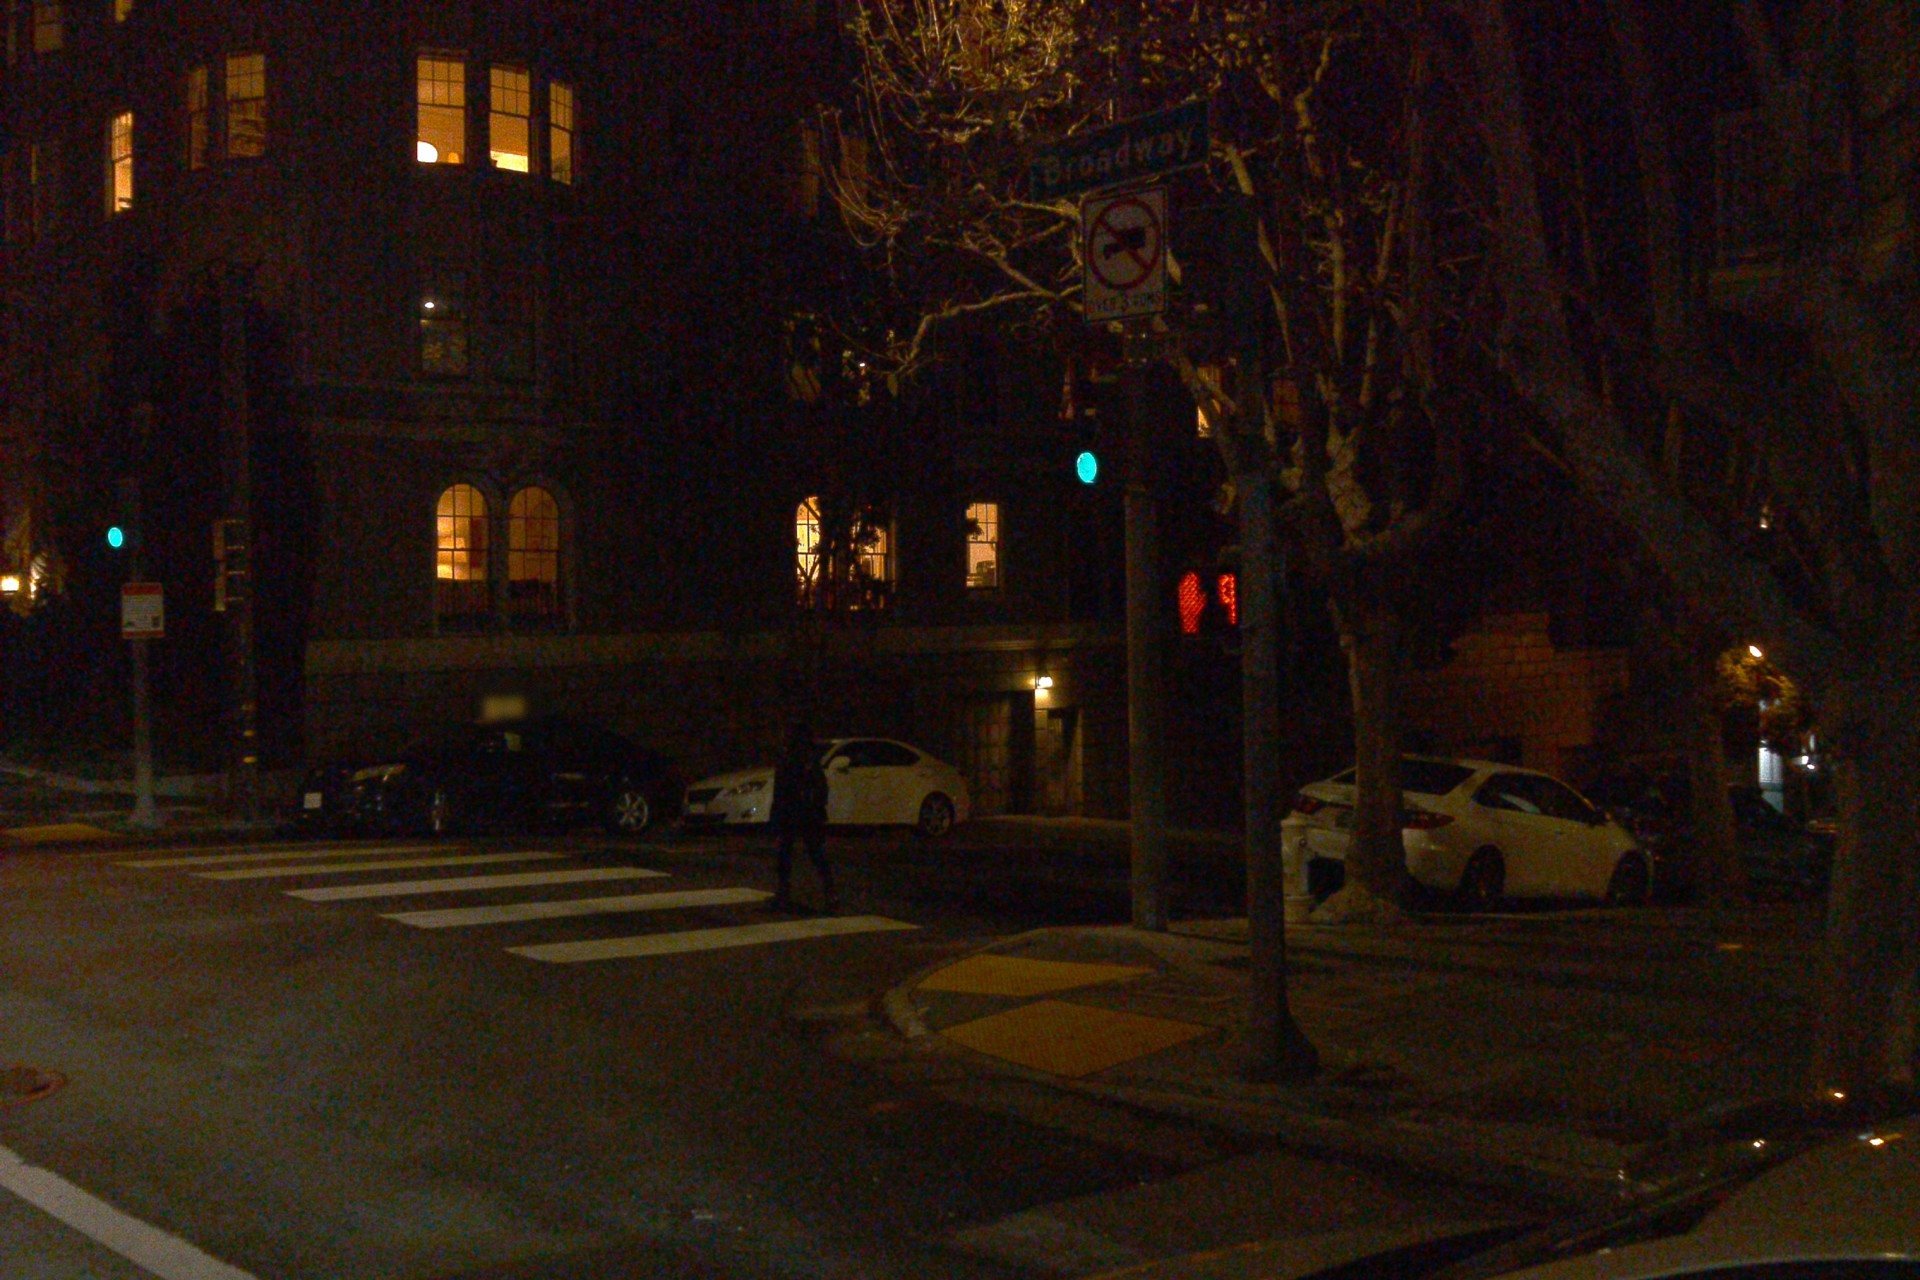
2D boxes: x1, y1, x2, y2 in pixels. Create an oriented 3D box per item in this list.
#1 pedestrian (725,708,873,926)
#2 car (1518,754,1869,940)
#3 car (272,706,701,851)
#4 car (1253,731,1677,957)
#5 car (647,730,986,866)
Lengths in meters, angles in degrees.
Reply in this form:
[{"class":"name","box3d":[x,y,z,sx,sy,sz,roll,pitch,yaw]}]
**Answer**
[{"class":"pedestrian","box3d":[-1.238,1.326,15.765,0.706,1.570,0.903,0,0,-44]},{"class":"car","box3d":[8.908,2.381,24.708,4.887,1.744,1.990,0,0,-44]},{"class":"car","box3d":[-5.386,1.529,23.877,1.838,1.362,4.644,1,0,42]},{"class":"car","box3d":[5.160,1.924,20.643,4.554,1.811,1.990,0,0,-44]},{"class":"car","box3d":[-1.848,2.052,27.685,1.919,1.482,4.488,1,0,42]}]
